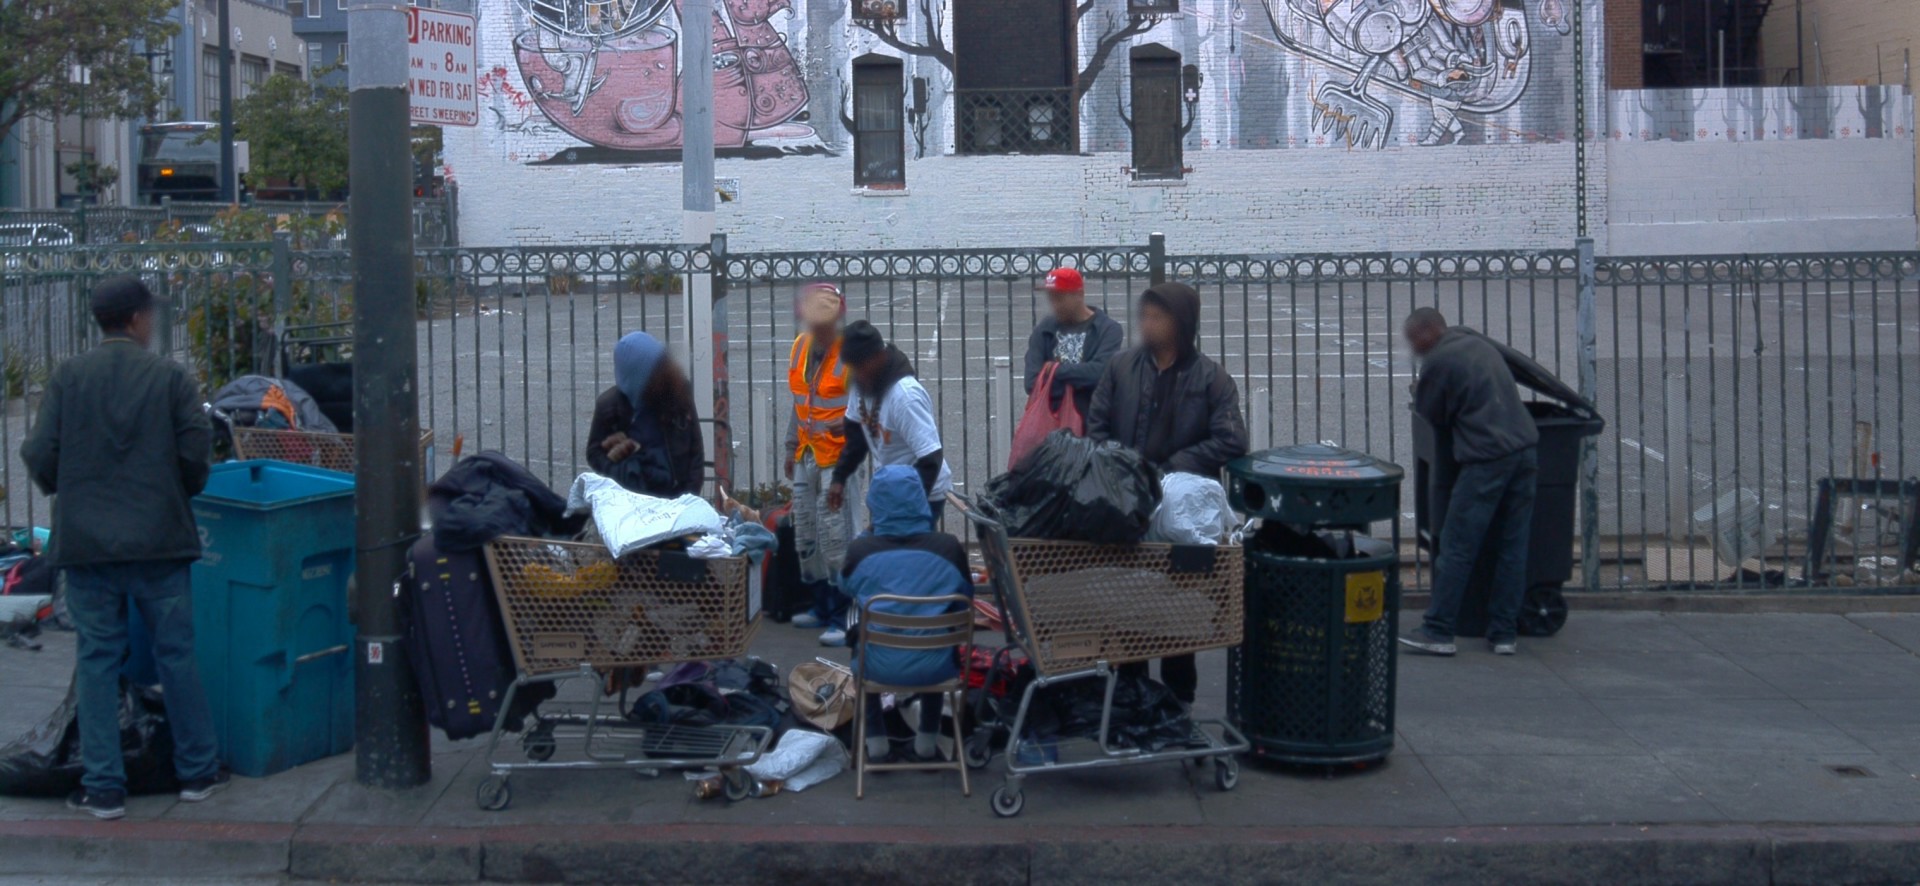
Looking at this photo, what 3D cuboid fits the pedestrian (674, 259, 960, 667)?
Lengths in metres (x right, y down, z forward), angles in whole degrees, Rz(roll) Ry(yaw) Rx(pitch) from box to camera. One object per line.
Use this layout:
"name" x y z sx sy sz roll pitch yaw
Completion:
"pedestrian" -0.682 0.035 9.943 1.110 1.827 0.830 1 2 28

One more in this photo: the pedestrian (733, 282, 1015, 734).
"pedestrian" -0.372 0.215 8.794 0.888 1.767 0.831 -2 2 -37

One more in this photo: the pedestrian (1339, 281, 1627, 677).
"pedestrian" 2.478 0.125 9.848 1.086 1.777 0.844 0 2 -8

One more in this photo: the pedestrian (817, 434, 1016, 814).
"pedestrian" -0.146 0.642 7.676 0.708 1.278 0.715 0 2 2

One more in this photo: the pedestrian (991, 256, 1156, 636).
"pedestrian" 0.553 -0.019 10.312 0.786 1.827 0.723 0 2 0

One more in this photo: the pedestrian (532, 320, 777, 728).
"pedestrian" -1.350 0.311 9.025 1.017 1.657 0.735 0 2 -11

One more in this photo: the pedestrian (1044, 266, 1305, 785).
"pedestrian" 0.860 0.264 8.131 0.853 1.907 0.747 1 2 22
